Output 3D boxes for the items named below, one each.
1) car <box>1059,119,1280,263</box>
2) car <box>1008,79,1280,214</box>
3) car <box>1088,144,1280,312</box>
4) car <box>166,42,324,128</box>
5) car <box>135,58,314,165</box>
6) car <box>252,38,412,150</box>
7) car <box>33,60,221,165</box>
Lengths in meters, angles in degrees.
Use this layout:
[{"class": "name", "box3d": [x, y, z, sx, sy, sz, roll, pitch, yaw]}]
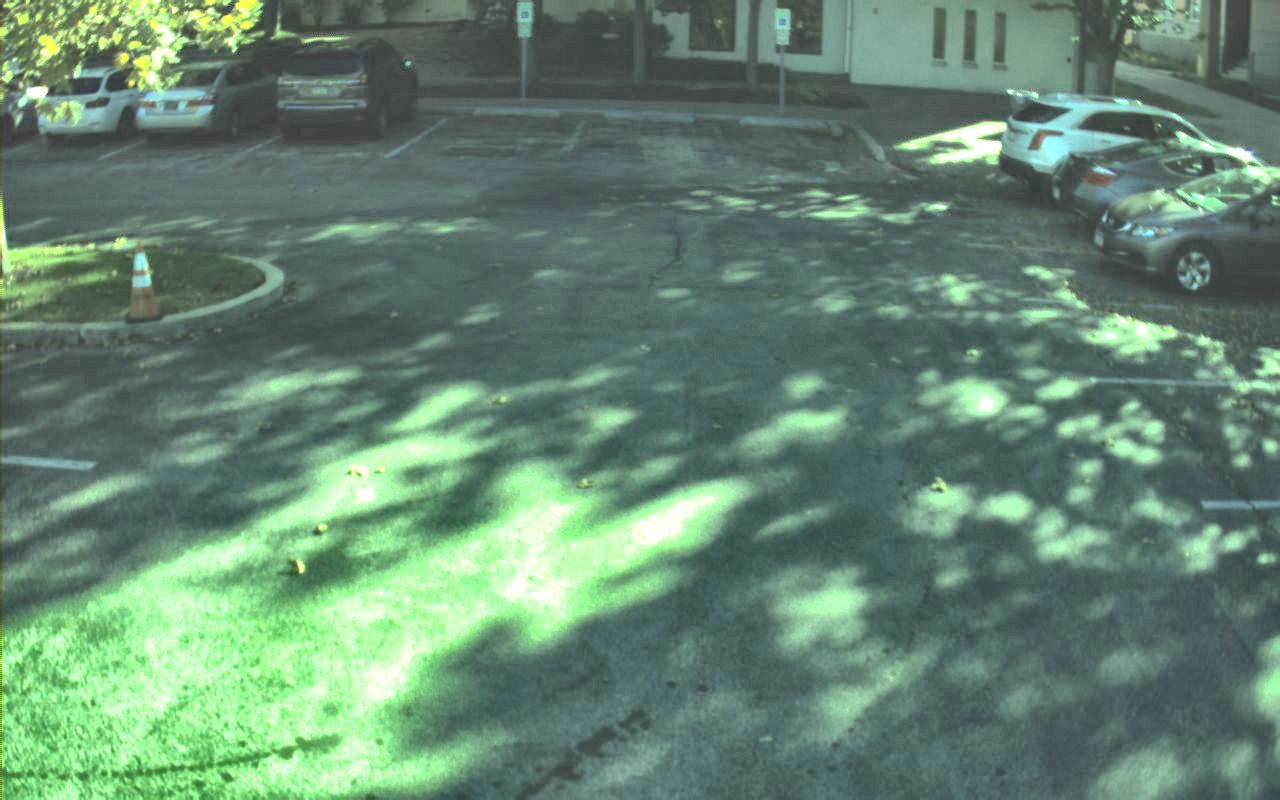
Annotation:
[{"class": "car", "box3d": [7.897, -2.818, 15.465, 4.302, 1.545, 1.912, 0, 16, 4]}, {"class": "car", "box3d": [8.066, -3.899, 17.847, 4.636, 1.704, 2.004, -1, 16, 1]}, {"class": "car", "box3d": [7.631, -2.012, 13.268, 4.544, 1.549, 1.967, 0, 16, 3]}, {"class": "car", "box3d": [-9.329, -7.513, 28.119, 1.999, 1.640, 4.667, 1, 17, 8]}, {"class": "car", "box3d": [-7.868, -5.568, 22.577, 1.932, 1.586, 4.500, 0, 17, 4]}, {"class": "car", "box3d": [-5.671, -5.806, 22.611, 2.010, 1.736, 4.622, -1, 17, 0]}, {"class": "car", "box3d": [-10.321, -5.831, 23.201, 1.943, 1.612, 4.517, 1, 17, 8]}]
